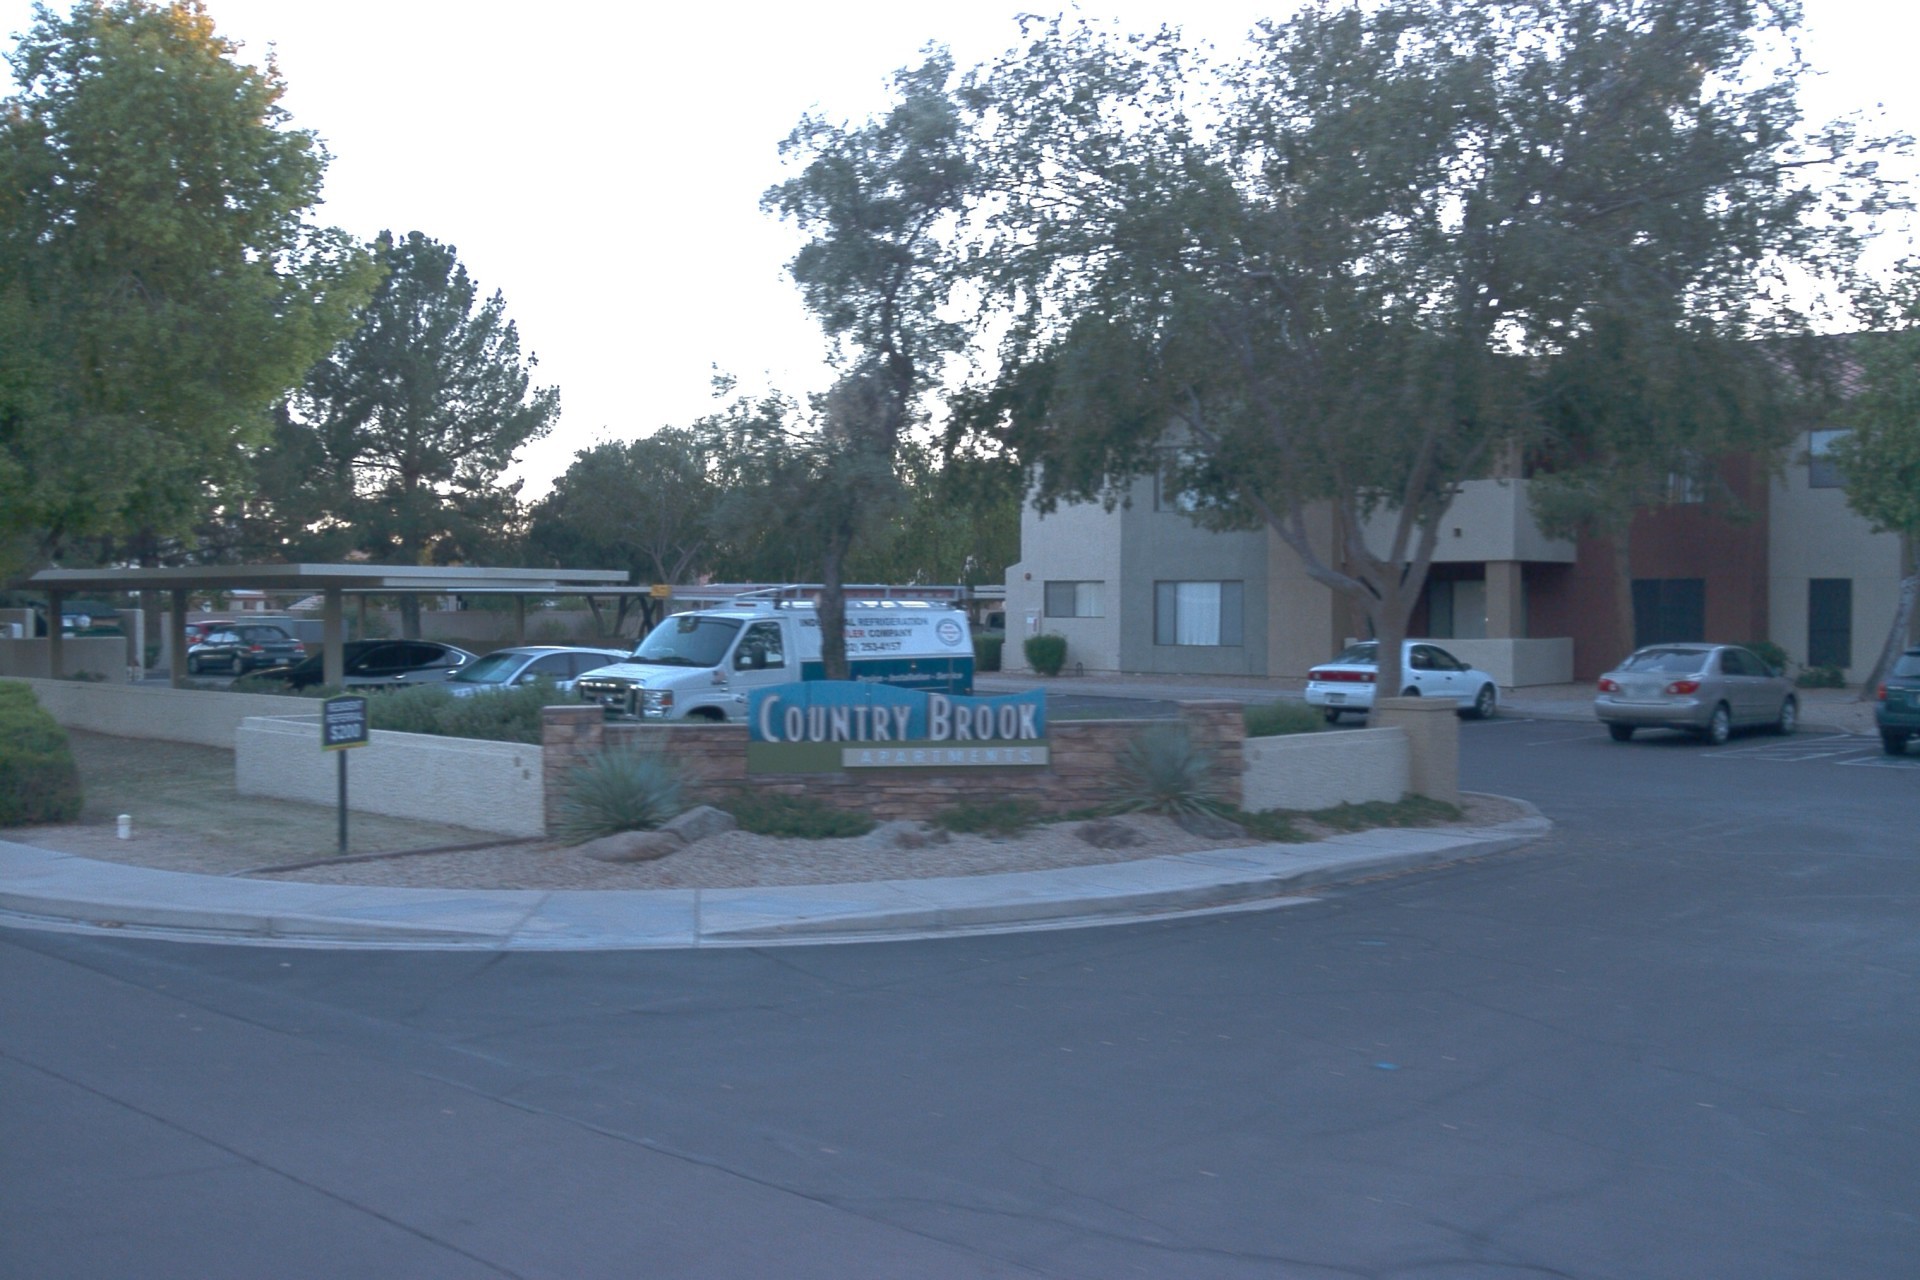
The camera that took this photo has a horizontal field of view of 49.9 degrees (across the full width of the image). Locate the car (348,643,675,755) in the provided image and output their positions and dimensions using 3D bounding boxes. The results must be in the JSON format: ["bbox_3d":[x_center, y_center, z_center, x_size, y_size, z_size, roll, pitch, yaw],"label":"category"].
[{"bbox_3d":[-6.573,0.831,30.556,1.971,1.520,4.331,1,0,45],"label":"car"}]

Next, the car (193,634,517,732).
[{"bbox_3d":[-10.150,0.696,34.907,2.115,1.529,4.818,1,0,45],"label":"car"}]

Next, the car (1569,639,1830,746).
[{"bbox_3d":[11.343,0.768,31.503,2.036,1.500,4.666,1,0,43],"label":"car"}]

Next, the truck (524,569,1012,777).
[{"bbox_3d":[-2.394,0.416,27.445,2.721,2.450,6.153,1,0,44],"label":"truck"}]

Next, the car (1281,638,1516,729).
[{"bbox_3d":[7.559,0.722,35.295,1.973,1.440,4.431,1,0,42],"label":"car"}]
